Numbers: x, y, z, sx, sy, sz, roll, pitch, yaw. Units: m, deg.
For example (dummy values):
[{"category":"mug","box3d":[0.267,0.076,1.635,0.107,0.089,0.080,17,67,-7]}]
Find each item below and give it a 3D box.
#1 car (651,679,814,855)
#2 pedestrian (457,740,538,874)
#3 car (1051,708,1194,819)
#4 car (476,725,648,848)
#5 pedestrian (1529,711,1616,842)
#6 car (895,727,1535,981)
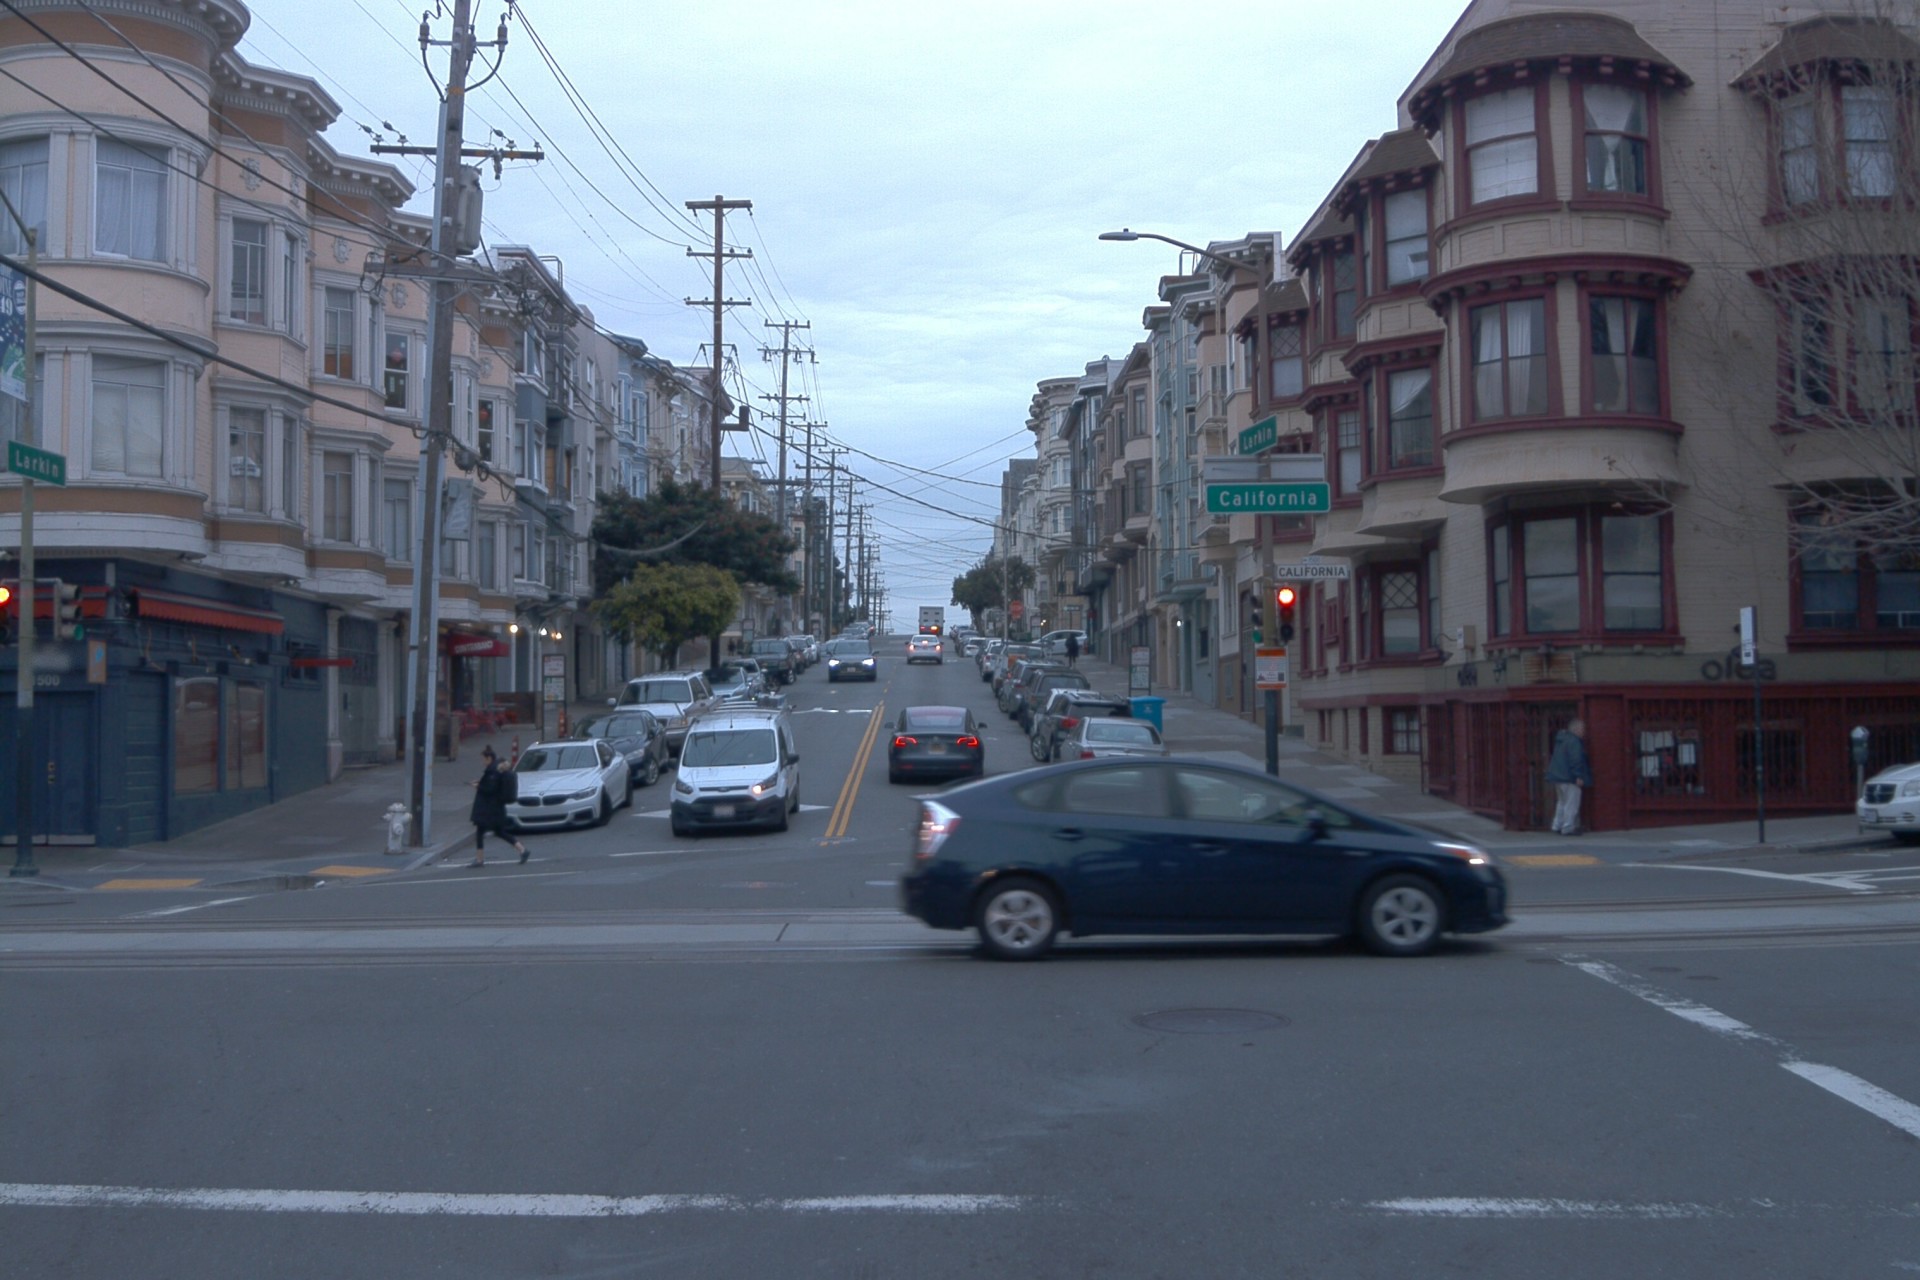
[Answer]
[{"category":"car","box3d":[-3.621,1.979,33.587,2.196,2.490,4.690,0,1,-1]},{"category":"pedestrian","box3d":[-6.541,2.355,29.110,0.944,1.820,0.721,0,1,4]},{"category":"car","box3d":[2.936,2.232,38.183,2.108,1.700,4.470,0,1,-2]},{"category":"car","box3d":[-6.813,2.472,35.708,2.150,1.707,4.680,0,1,-1]},{"category":"pedestrian","box3d":[8.935,1.974,30.031,0.906,1.830,0.916,0,1,-9]},{"category":"car","box3d":[1.789,1.561,15.627,4.548,1.660,2.065,0,1,-1]}]
